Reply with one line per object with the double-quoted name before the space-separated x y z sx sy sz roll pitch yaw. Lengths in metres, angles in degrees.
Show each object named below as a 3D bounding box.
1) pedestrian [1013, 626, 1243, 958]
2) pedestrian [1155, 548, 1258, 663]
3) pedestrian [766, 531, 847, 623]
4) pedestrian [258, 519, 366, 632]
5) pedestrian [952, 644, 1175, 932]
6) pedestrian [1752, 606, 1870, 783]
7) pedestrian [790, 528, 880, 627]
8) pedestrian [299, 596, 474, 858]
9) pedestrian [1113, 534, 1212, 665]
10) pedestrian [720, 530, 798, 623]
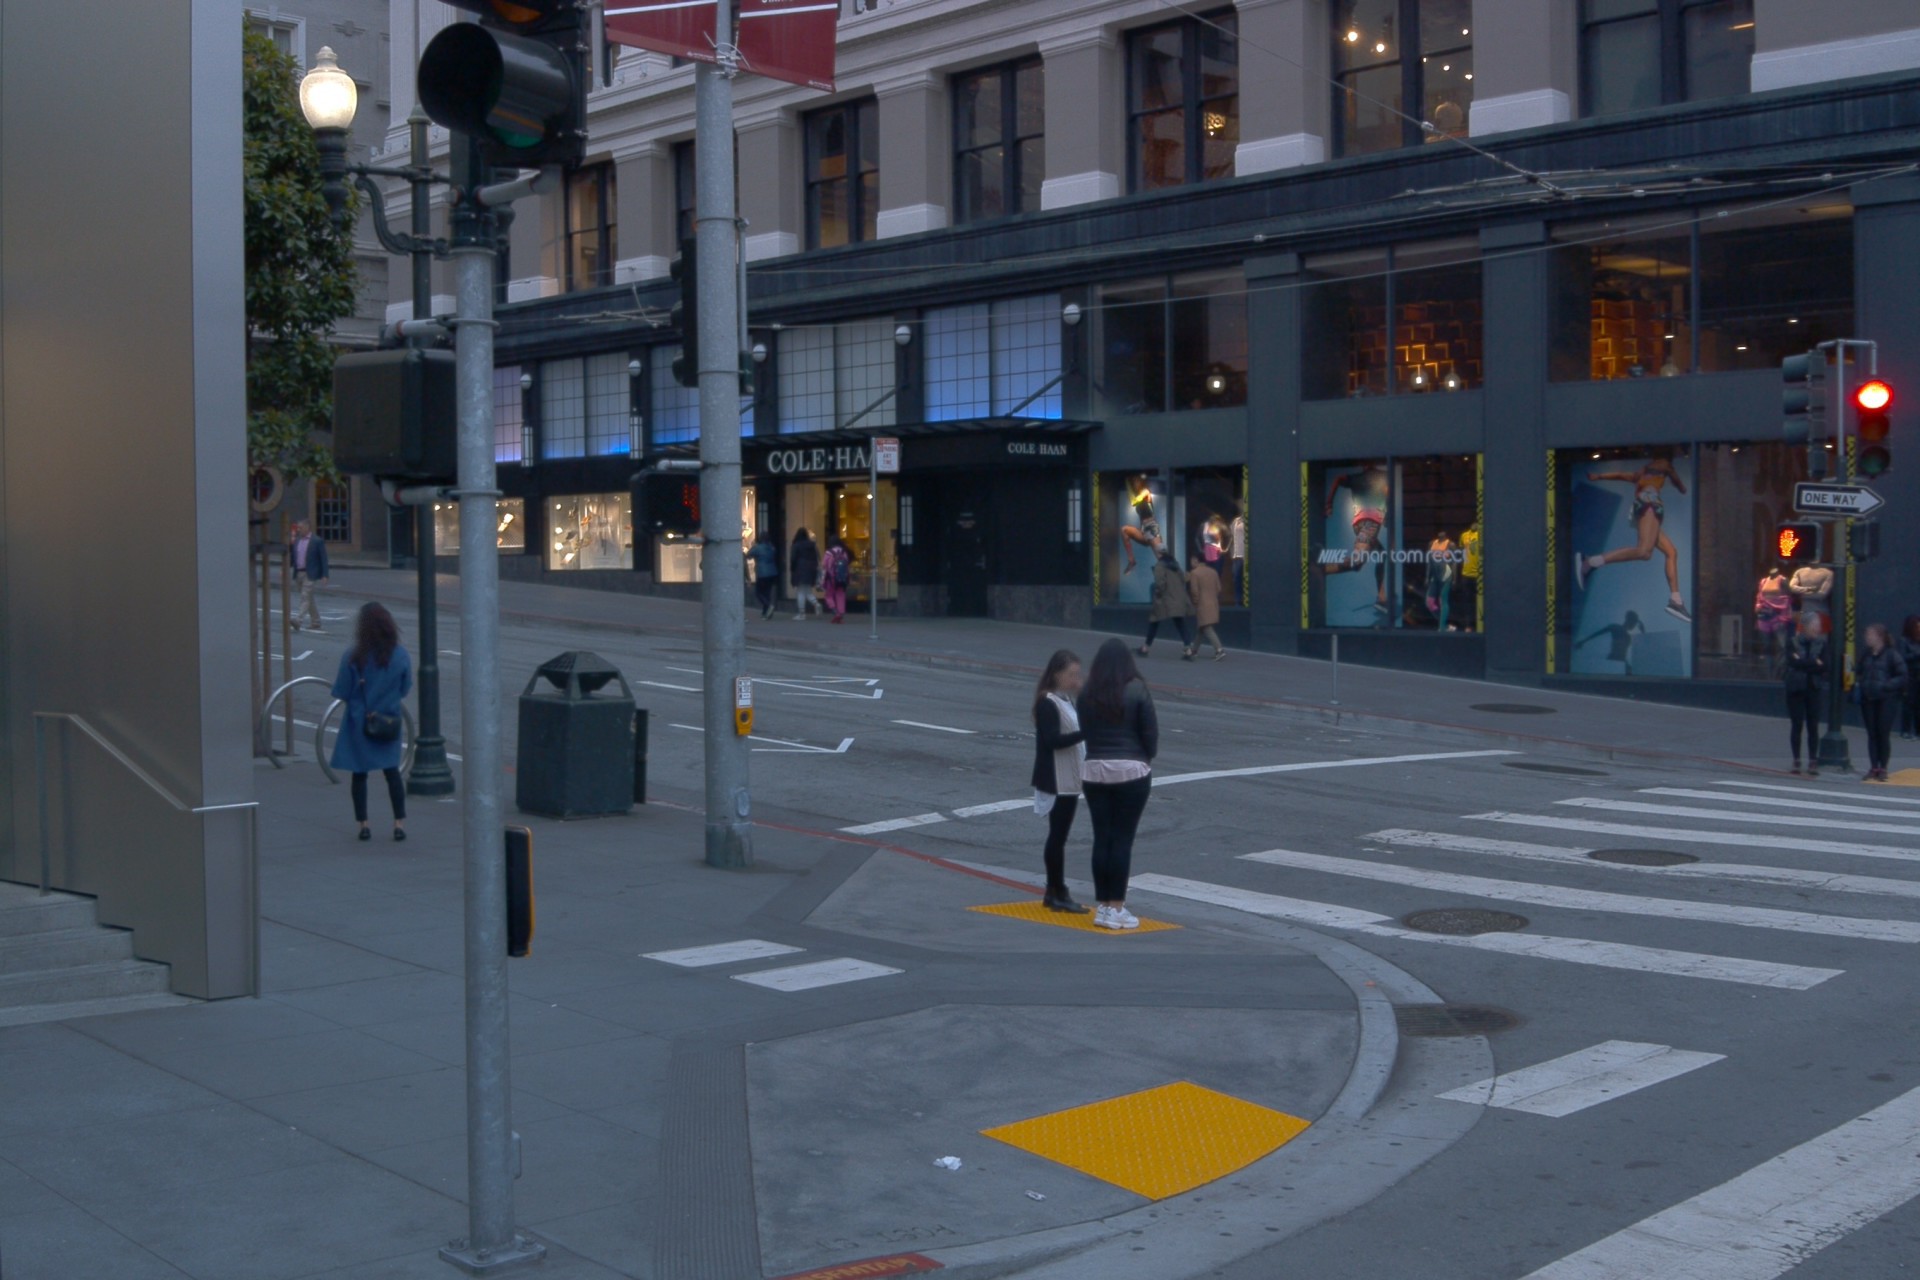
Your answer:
"pedestrian" 1.011 0.866 12.353 1.113 1.890 0.813 0 1 -33
"pedestrian" 3.728 -0.523 30.987 1.053 1.700 1.108 0 1 -43
"pedestrian" -2.806 -1.135 37.366 0.965 1.630 1.148 -1 1 -44
"pedestrian" -10.372 -1.023 32.854 1.094 1.780 1.343 0 1 15
"pedestrian" 0.661 0.895 13.052 0.997 1.710 1.003 1 1 43
"pedestrian" 8.945 0.543 21.527 0.895 1.800 1.088 1 1 36
"pedestrian" -2.174 -1.071 35.651 1.127 1.690 1.184 0 1 -33
"pedestrian" -4.007 0.573 14.315 0.951 1.750 0.801 0 1 -37
"pedestrian" 3.029 -0.603 30.712 1.104 1.920 0.963 1 1 44
"pedestrian" -3.652 -1.144 37.290 0.999 1.670 0.994 1 1 45
